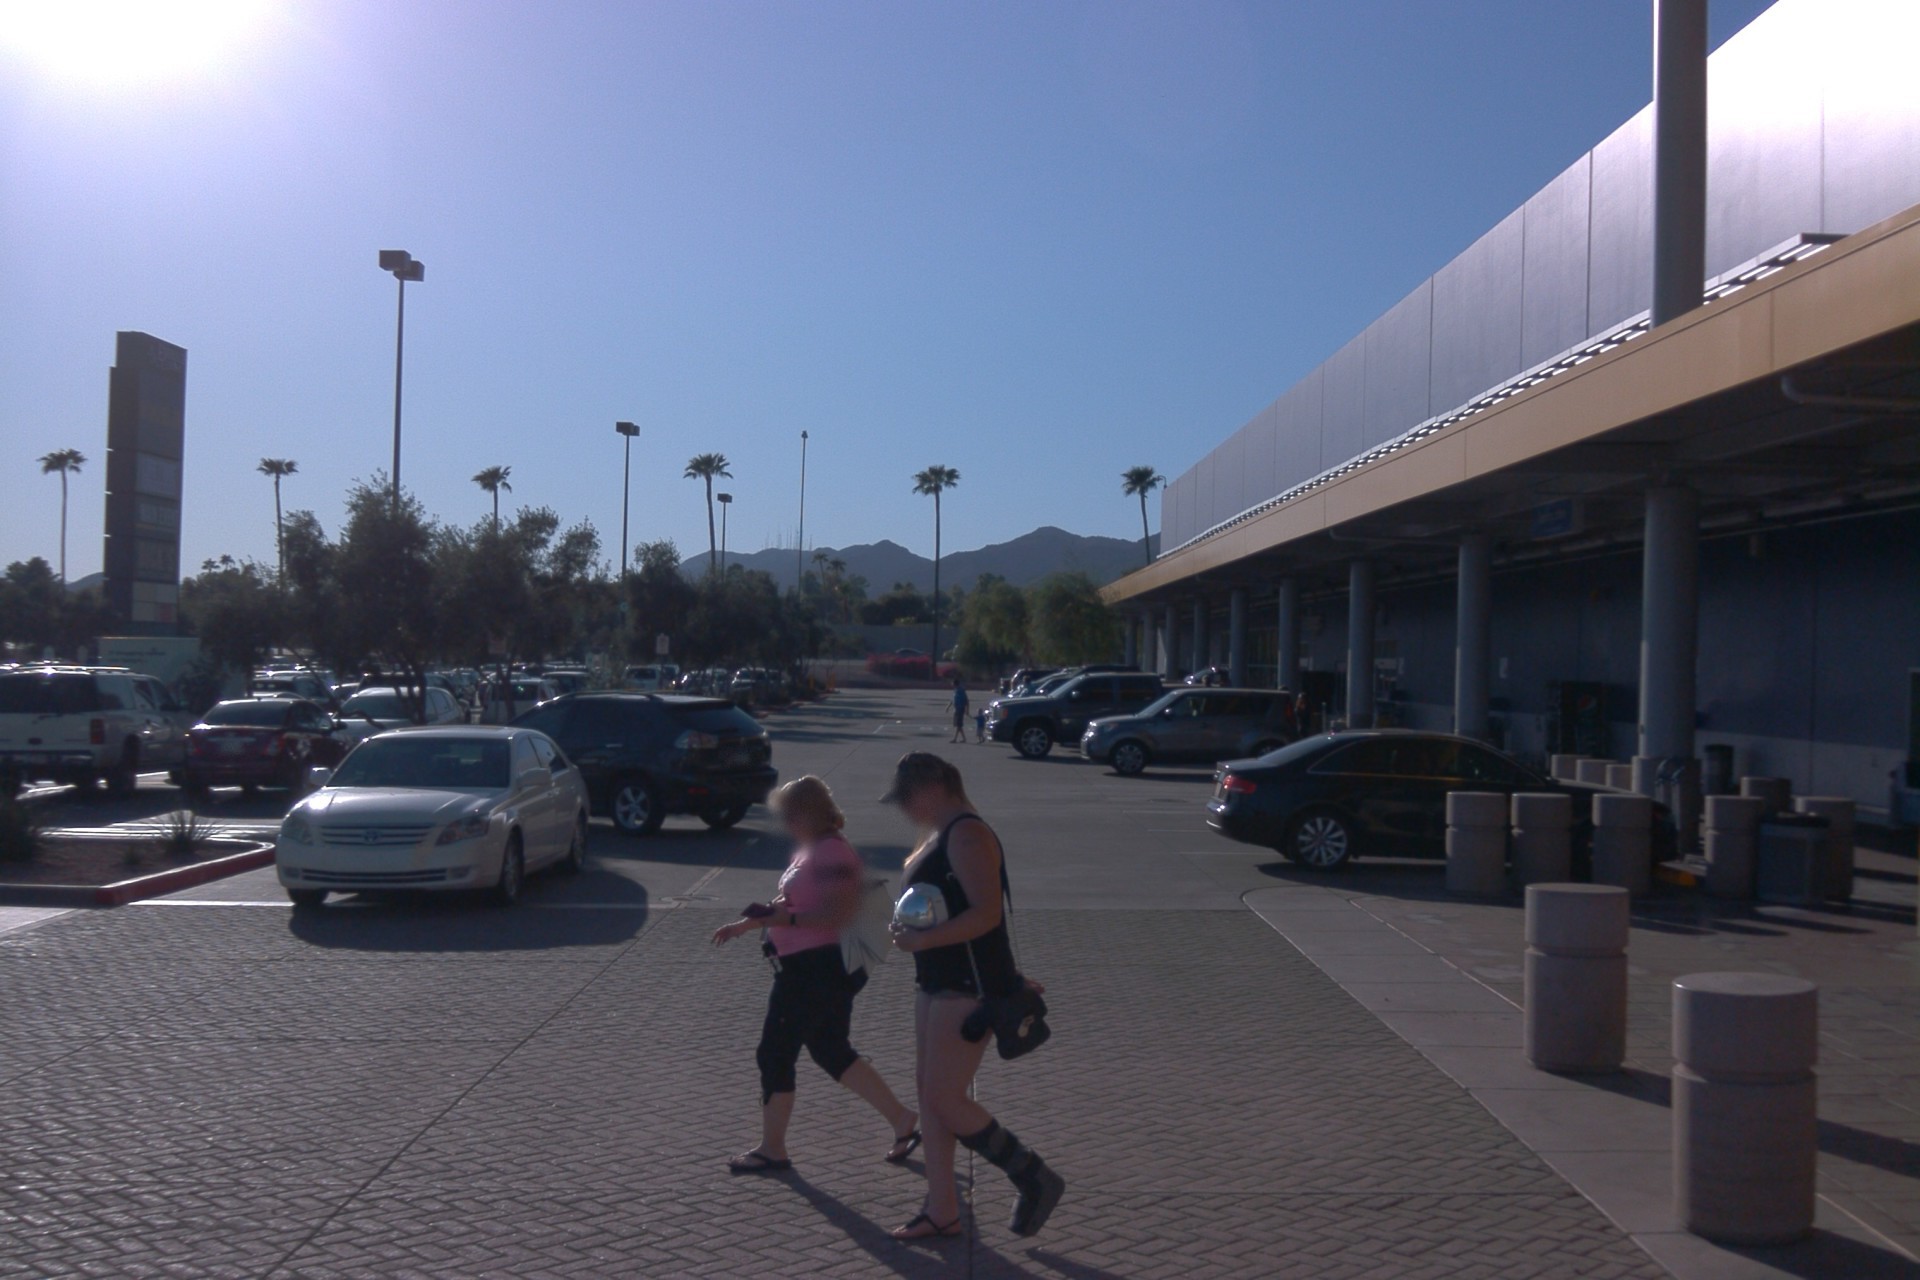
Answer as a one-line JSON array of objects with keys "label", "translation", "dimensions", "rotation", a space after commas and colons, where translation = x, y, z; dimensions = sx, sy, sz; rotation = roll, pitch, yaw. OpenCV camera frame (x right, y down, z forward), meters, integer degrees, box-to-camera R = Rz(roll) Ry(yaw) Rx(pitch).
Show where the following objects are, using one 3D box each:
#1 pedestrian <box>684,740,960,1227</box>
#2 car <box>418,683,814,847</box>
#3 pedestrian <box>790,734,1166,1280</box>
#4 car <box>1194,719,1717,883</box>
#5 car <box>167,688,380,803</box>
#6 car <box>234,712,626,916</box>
[{"label": "pedestrian", "translation": [-0.588, 1.333, 8.469], "dimensions": [1.000, 1.810, 1.000], "rotation": [1, 0, -10]}, {"label": "car", "translation": [-4.286, 1.452, 25.648], "dimensions": [4.578, 1.770, 2.198], "rotation": [0, 0, 35]}, {"label": "pedestrian", "translation": [0.033, 1.273, 7.469], "dimensions": [1.137, 1.830, 0.949], "rotation": [1, 0, -13]}, {"label": "car", "translation": [4.895, 1.592, 21.111], "dimensions": [4.792, 1.460, 2.078], "rotation": [1, 0, 0]}, {"label": "car", "translation": [-10.427, 1.558, 31.927], "dimensions": [1.866, 1.580, 4.286], "rotation": [1, 0, 0]}, {"label": "car", "translation": [-4.529, 1.441, 18.690], "dimensions": [2.148, 1.440, 4.950], "rotation": [1, -1, 1]}]
